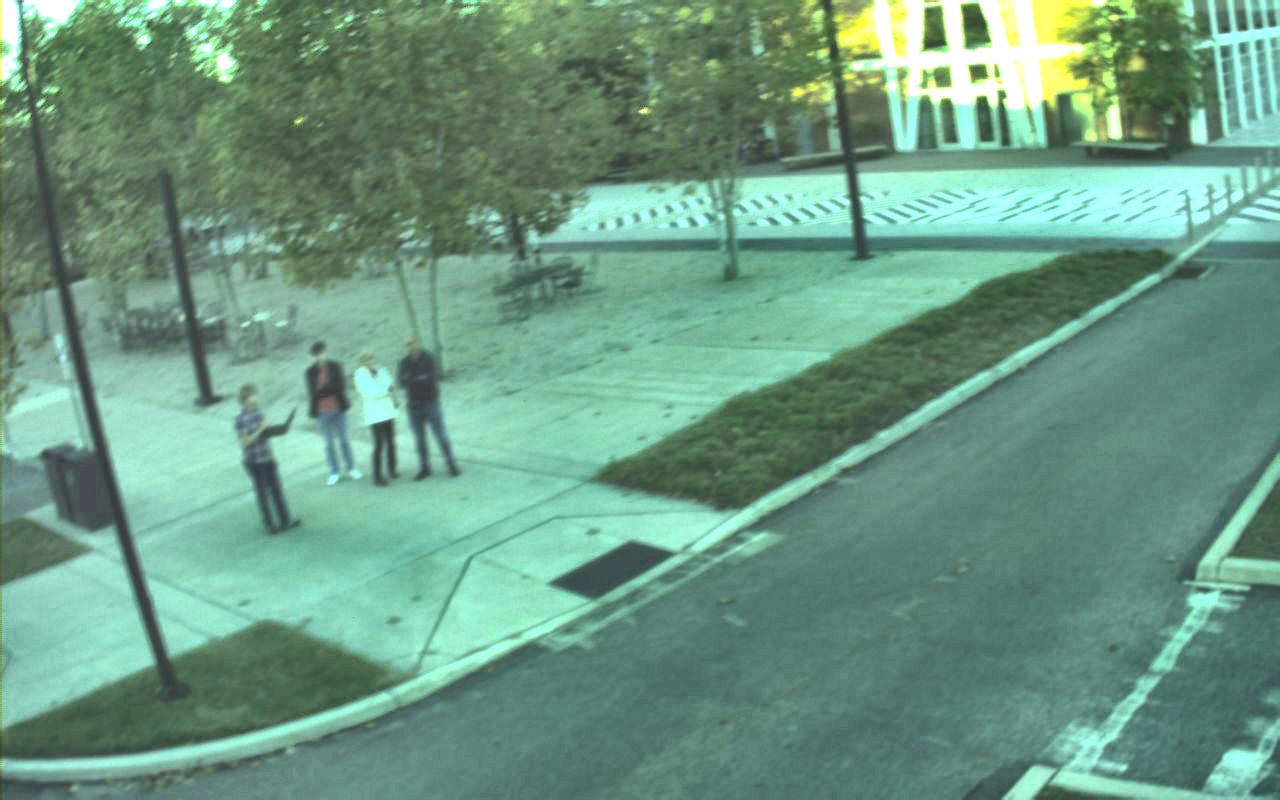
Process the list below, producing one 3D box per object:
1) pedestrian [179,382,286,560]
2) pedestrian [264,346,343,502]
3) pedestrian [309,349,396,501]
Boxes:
[{"bbox_3d":[-4.754,0.836,14.026,0.773,1.829,0.775,6,16,25],"label":"pedestrian"},{"bbox_3d":[-4.340,0.328,15.809,0.777,1.826,0.787,-3,15,-6],"label":"pedestrian"},{"bbox_3d":[-3.635,0.317,15.670,0.780,1.746,0.796,0,15,5],"label":"pedestrian"}]
